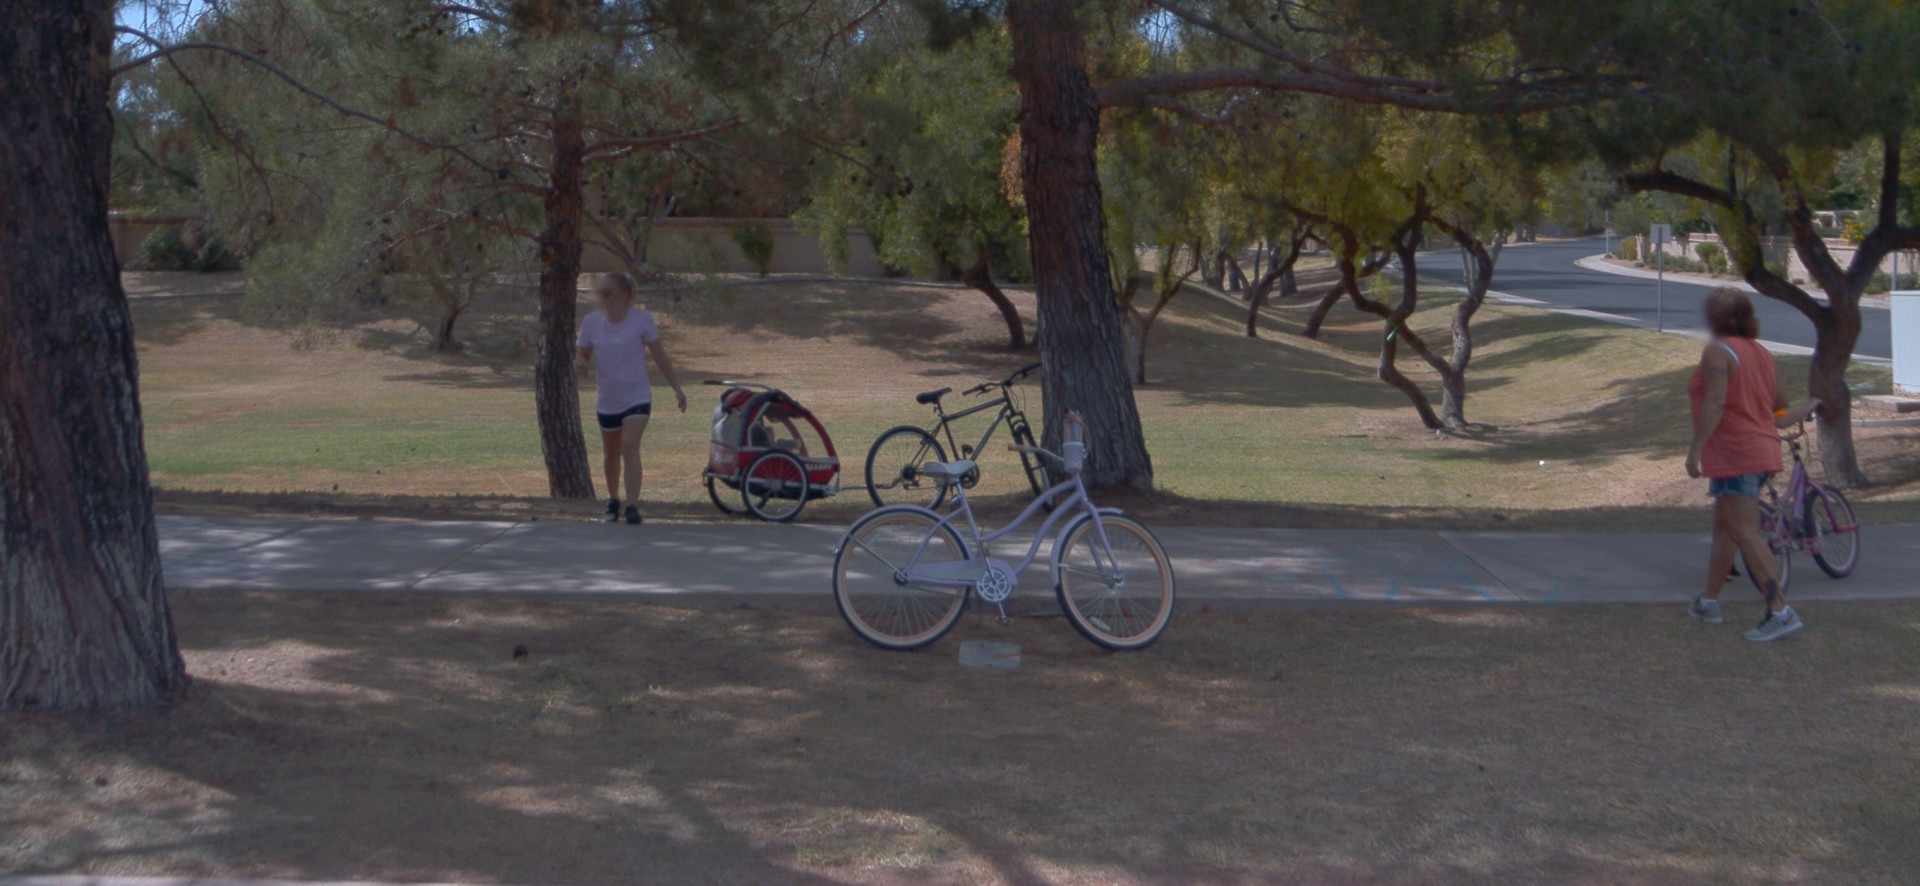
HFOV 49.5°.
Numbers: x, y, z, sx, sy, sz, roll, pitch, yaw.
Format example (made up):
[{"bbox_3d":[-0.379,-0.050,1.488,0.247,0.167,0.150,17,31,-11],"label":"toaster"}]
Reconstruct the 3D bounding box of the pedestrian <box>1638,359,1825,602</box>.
[{"bbox_3d":[4.080,0.170,11.014,0.599,1.181,0.730,0,1,-40],"label":"pedestrian"}]

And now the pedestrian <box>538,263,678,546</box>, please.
[{"bbox_3d":[-2.212,-0.278,13.127,0.832,1.712,0.900,0,1,-9],"label":"pedestrian"}]

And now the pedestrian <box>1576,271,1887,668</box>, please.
[{"bbox_3d":[3.589,0.062,9.741,0.896,1.722,1.036,0,1,-24],"label":"pedestrian"}]
